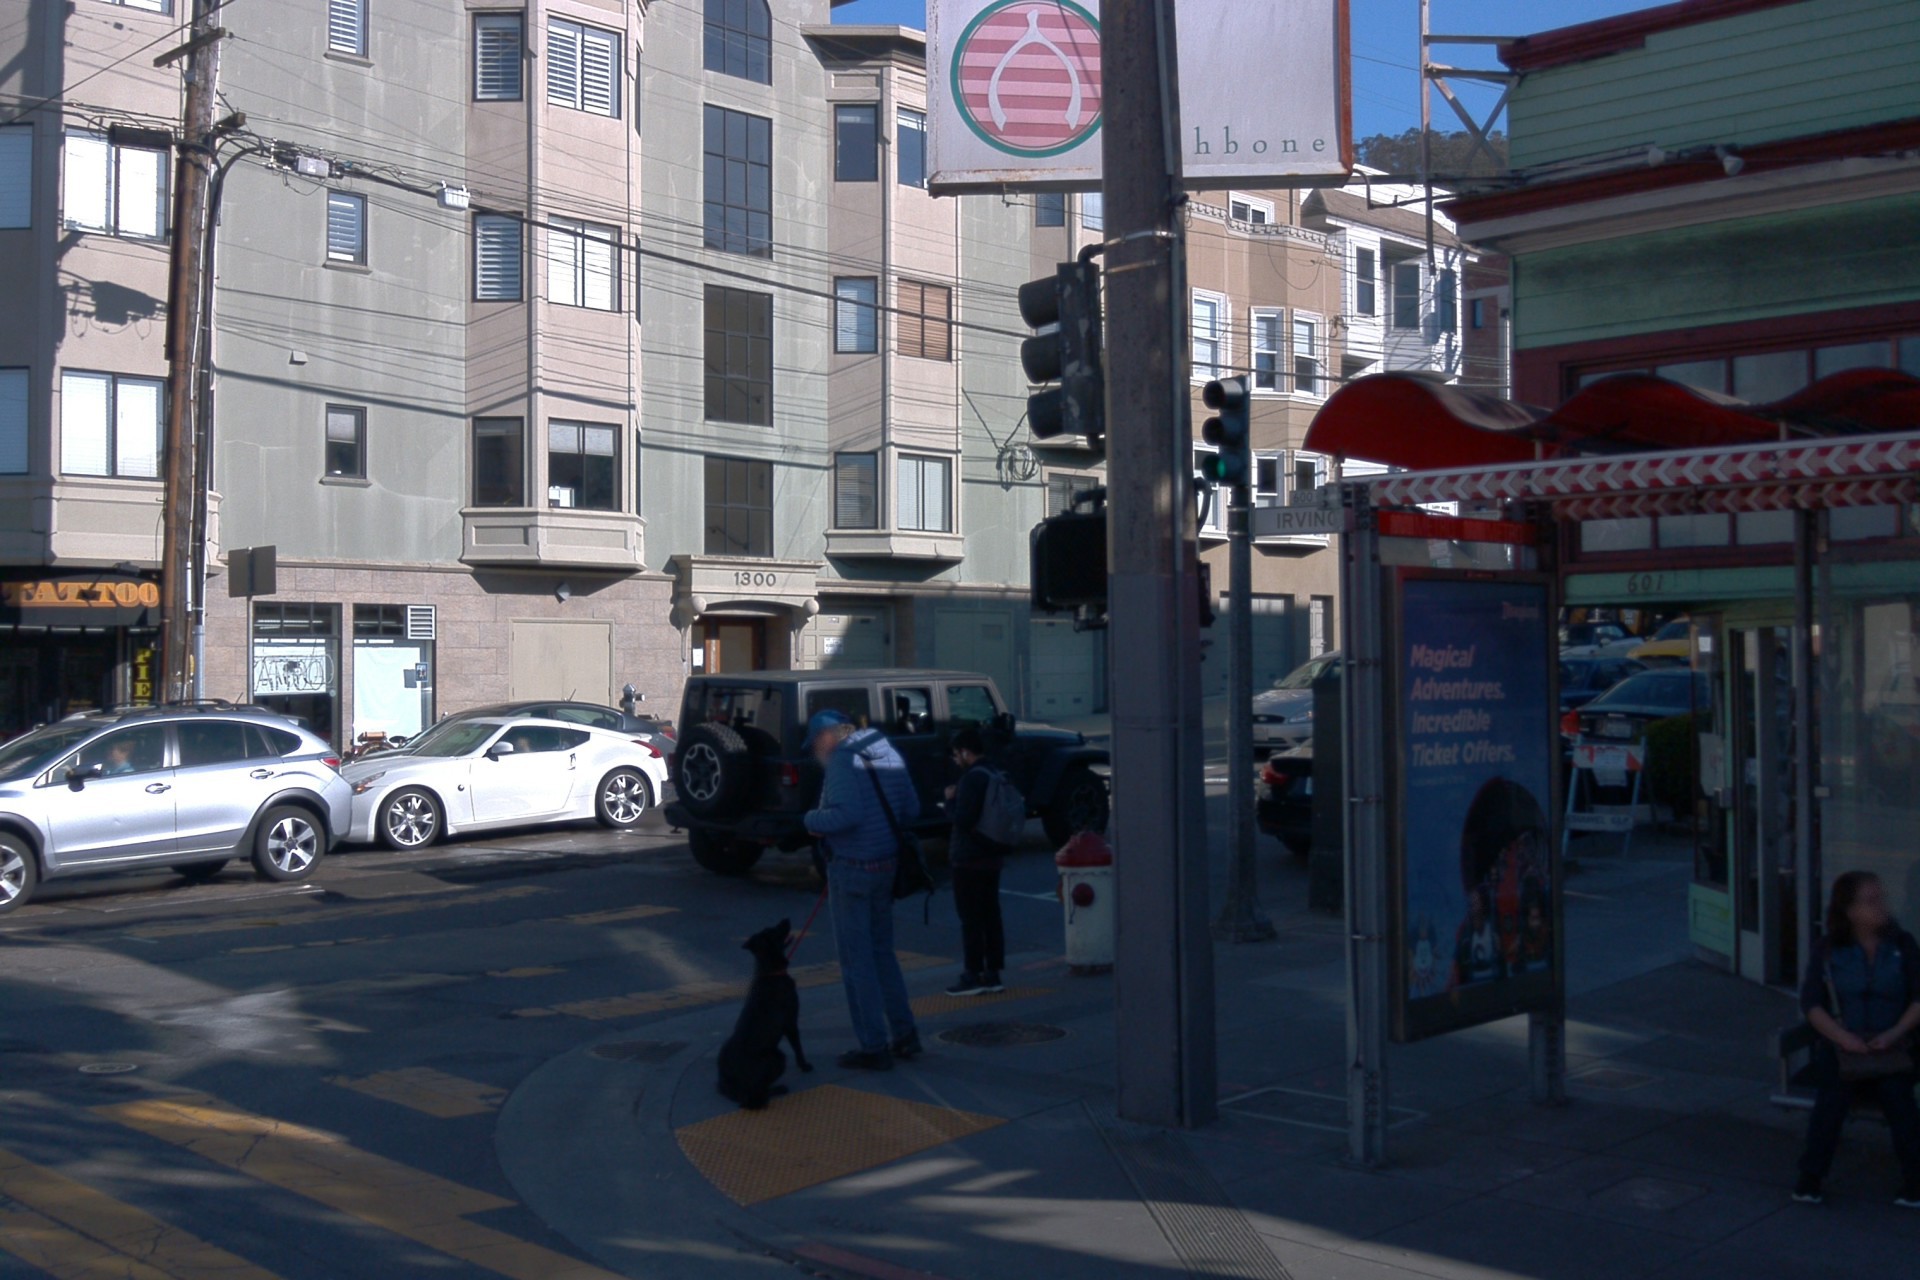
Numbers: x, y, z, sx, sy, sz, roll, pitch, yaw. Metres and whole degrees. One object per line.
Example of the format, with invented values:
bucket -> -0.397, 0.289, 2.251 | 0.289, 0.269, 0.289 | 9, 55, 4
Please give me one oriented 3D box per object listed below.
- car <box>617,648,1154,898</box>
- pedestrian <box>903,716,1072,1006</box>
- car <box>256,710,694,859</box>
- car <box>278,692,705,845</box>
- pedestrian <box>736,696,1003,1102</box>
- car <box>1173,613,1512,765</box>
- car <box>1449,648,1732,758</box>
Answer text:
car -> -0.546, 1.093, 19.322 | 2.072, 1.990, 4.910 | 1, 0, 43
pedestrian -> 0.169, 1.342, 13.044 | 0.687, 1.700, 0.778 | 0, 0, -43
car -> -5.296, 1.514, 23.128 | 4.249, 1.390, 2.004 | 1, 0, -39
car -> -5.775, 1.518, 26.272 | 2.149, 1.660, 4.833 | 0, 0, 44
pedestrian -> -0.445, 1.222, 10.406 | 0.894, 1.860, 0.955 | 1, 0, 41
car -> 5.640, 0.674, 30.501 | 5.034, 2.030, 2.283 | 1, 0, -43
car -> 8.747, 0.827, 28.860 | 1.876, 1.380, 4.494 | 0, 0, 44
